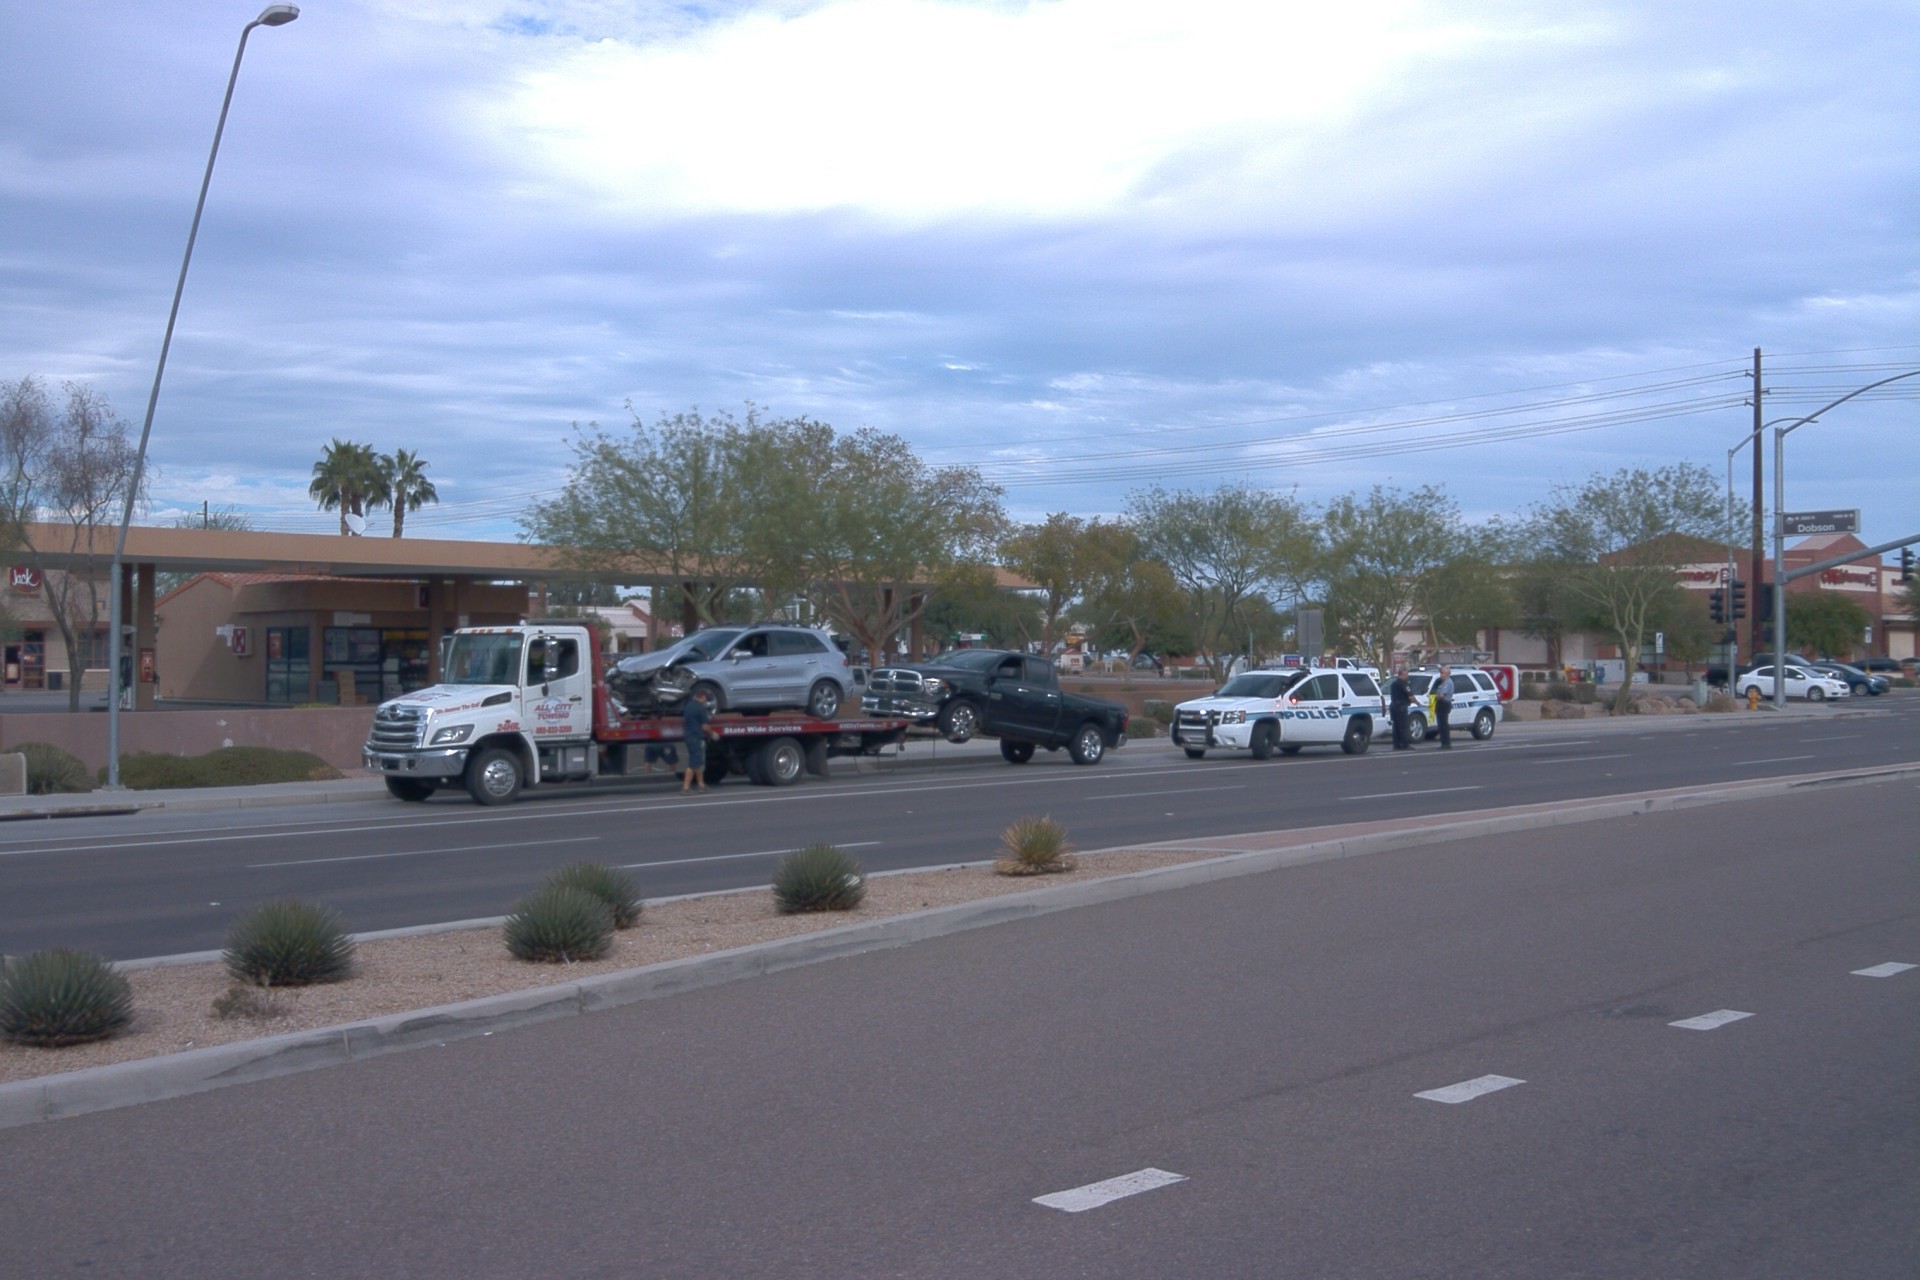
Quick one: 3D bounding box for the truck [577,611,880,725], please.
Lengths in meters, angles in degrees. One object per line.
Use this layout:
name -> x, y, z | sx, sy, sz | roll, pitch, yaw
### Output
truck -> -3.757, 0.451, 34.473 | 2.096, 1.750, 4.766 | 1, 0, 42

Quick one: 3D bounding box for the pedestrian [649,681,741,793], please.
pedestrian -> -4.034, 1.459, 31.671 | 0.927, 1.650, 1.015 | 1, 0, 41

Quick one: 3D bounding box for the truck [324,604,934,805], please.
truck -> -4.921, 0.917, 33.197 | 3.244, 2.750, 9.630 | 1, 0, 42
